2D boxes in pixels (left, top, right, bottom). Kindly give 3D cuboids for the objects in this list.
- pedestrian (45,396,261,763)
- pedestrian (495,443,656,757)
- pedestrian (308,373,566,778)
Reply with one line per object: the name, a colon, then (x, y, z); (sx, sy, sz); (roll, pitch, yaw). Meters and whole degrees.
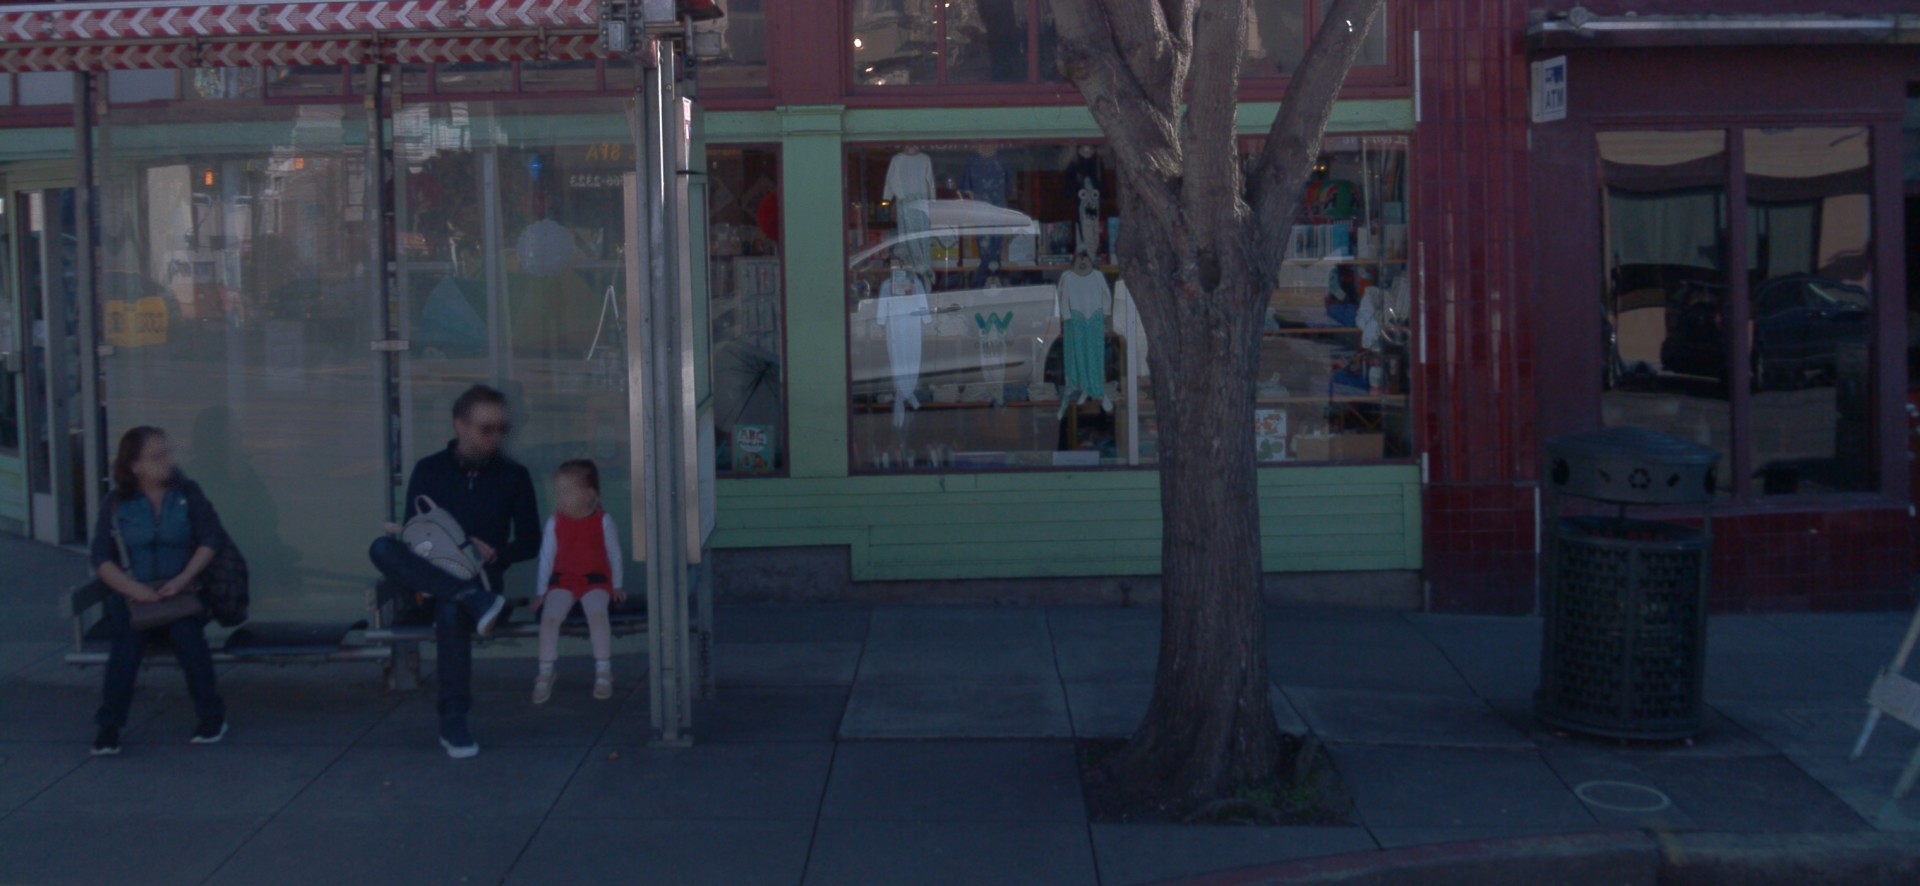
pedestrian: (-3.126, 0.489, 8.060); (0.737, 1.258, 0.794); (-1, 2, -19)
pedestrian: (-1.473, 0.584, 7.976); (0.528, 1.098, 0.572); (0, 2, -3)
pedestrian: (-1.989, 0.468, 7.974); (0.753, 1.398, 0.926); (0, 2, 0)
